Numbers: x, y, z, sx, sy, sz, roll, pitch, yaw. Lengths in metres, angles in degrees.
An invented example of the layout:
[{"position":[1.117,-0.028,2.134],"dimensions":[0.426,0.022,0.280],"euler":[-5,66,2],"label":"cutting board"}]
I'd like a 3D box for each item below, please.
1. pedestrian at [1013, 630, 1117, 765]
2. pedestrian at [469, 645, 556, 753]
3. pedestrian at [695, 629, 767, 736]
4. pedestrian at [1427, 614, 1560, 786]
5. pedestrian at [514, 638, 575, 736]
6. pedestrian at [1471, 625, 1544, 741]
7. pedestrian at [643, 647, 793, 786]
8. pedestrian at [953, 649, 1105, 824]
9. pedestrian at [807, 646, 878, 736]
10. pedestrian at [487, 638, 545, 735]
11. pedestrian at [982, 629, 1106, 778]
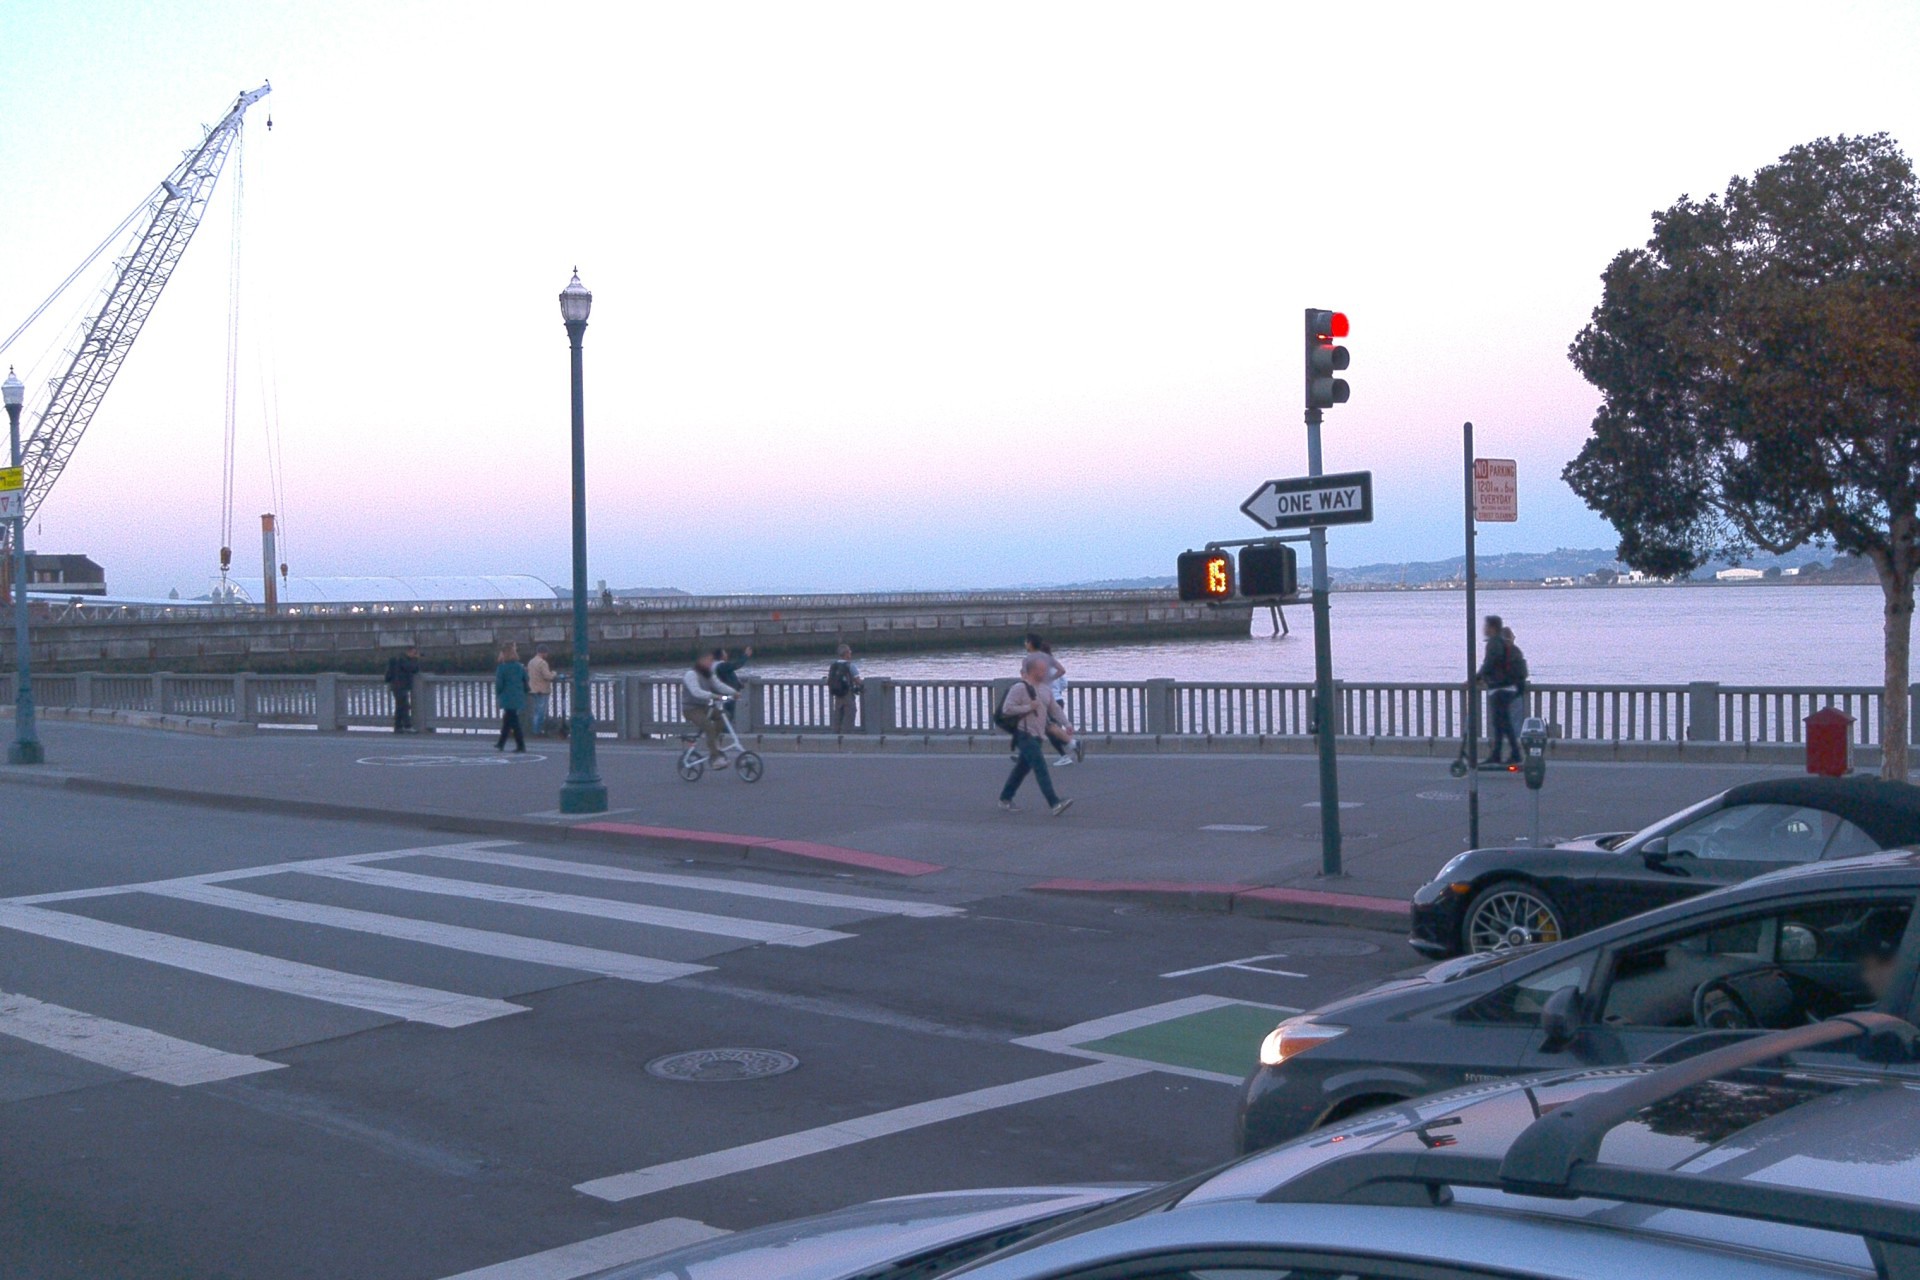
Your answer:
[{"position":[1.363,0.729,26.832],"dimensions":[1.040,1.700,0.899],"euler":[0,0,33],"label":"pedestrian"},{"position":[-7.110,0.922,32.948],"dimensions":[0.989,1.680,0.931],"euler":[0,0,34],"label":"pedestrian"},{"position":[-3.670,0.670,33.227],"dimensions":[0.867,1.680,0.881],"euler":[0,0,-30],"label":"pedestrian"},{"position":[5.958,0.655,23.126],"dimensions":[1.209,1.860,0.886],"euler":[0,0,34],"label":"pedestrian"},{"position":[-7.380,0.823,36.850],"dimensions":[0.753,1.710,0.745],"euler":[0,0,33],"label":"pedestrian"},{"position":[7.223,0.563,27.345],"dimensions":[0.751,1.510,0.681],"euler":[0,0,33],"label":"pedestrian"},{"position":[-3.027,0.928,25.910],"dimensions":[1.529,1.680,1.059],"euler":[0,0,31],"label":"pedestrian"},{"position":[0.707,0.962,21.253],"dimensions":[1.162,1.730,1.021],"euler":[0,0,41],"label":"pedestrian"},{"position":[-1.848,0.793,32.749],"dimensions":[0.792,1.400,0.928],"euler":[0,0,22],"label":"pedestrian"},{"position":[-7.972,0.825,37.196],"dimensions":[0.825,1.710,0.730],"euler":[0,0,-31],"label":"pedestrian"},{"position":[1.058,0.781,25.981],"dimensions":[1.211,1.820,0.977],"euler":[0,0,34],"label":"pedestrian"}]
